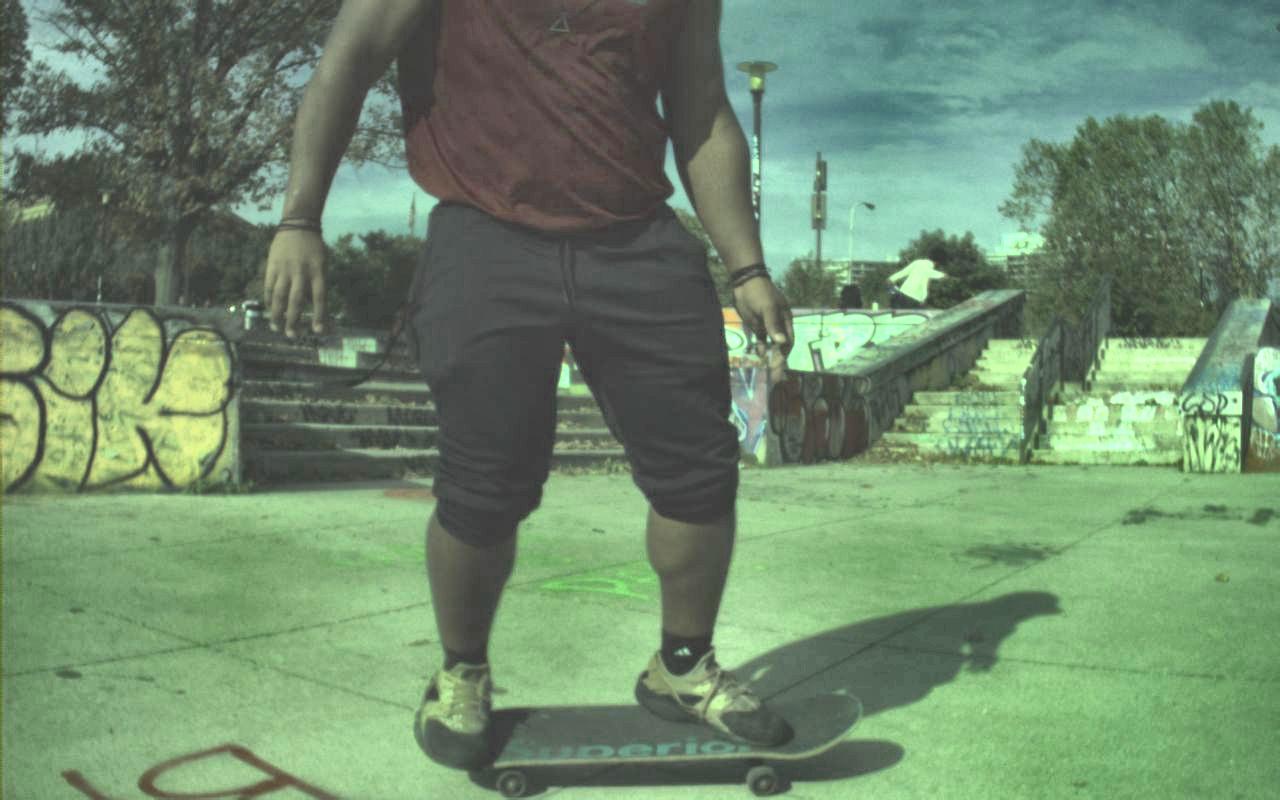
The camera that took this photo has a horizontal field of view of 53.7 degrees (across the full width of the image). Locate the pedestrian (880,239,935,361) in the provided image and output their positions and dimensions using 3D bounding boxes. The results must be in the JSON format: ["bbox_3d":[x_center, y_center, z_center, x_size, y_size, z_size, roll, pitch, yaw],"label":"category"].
[{"bbox_3d":[4.250,-1.562,19.781,0.789,1.900,0.750,0,0,4],"label":"pedestrian"}]

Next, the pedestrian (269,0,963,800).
[{"bbox_3d":[-0.082,-0.038,1.939,0.955,1.543,0.825,0,0,-9],"label":"pedestrian"}]
